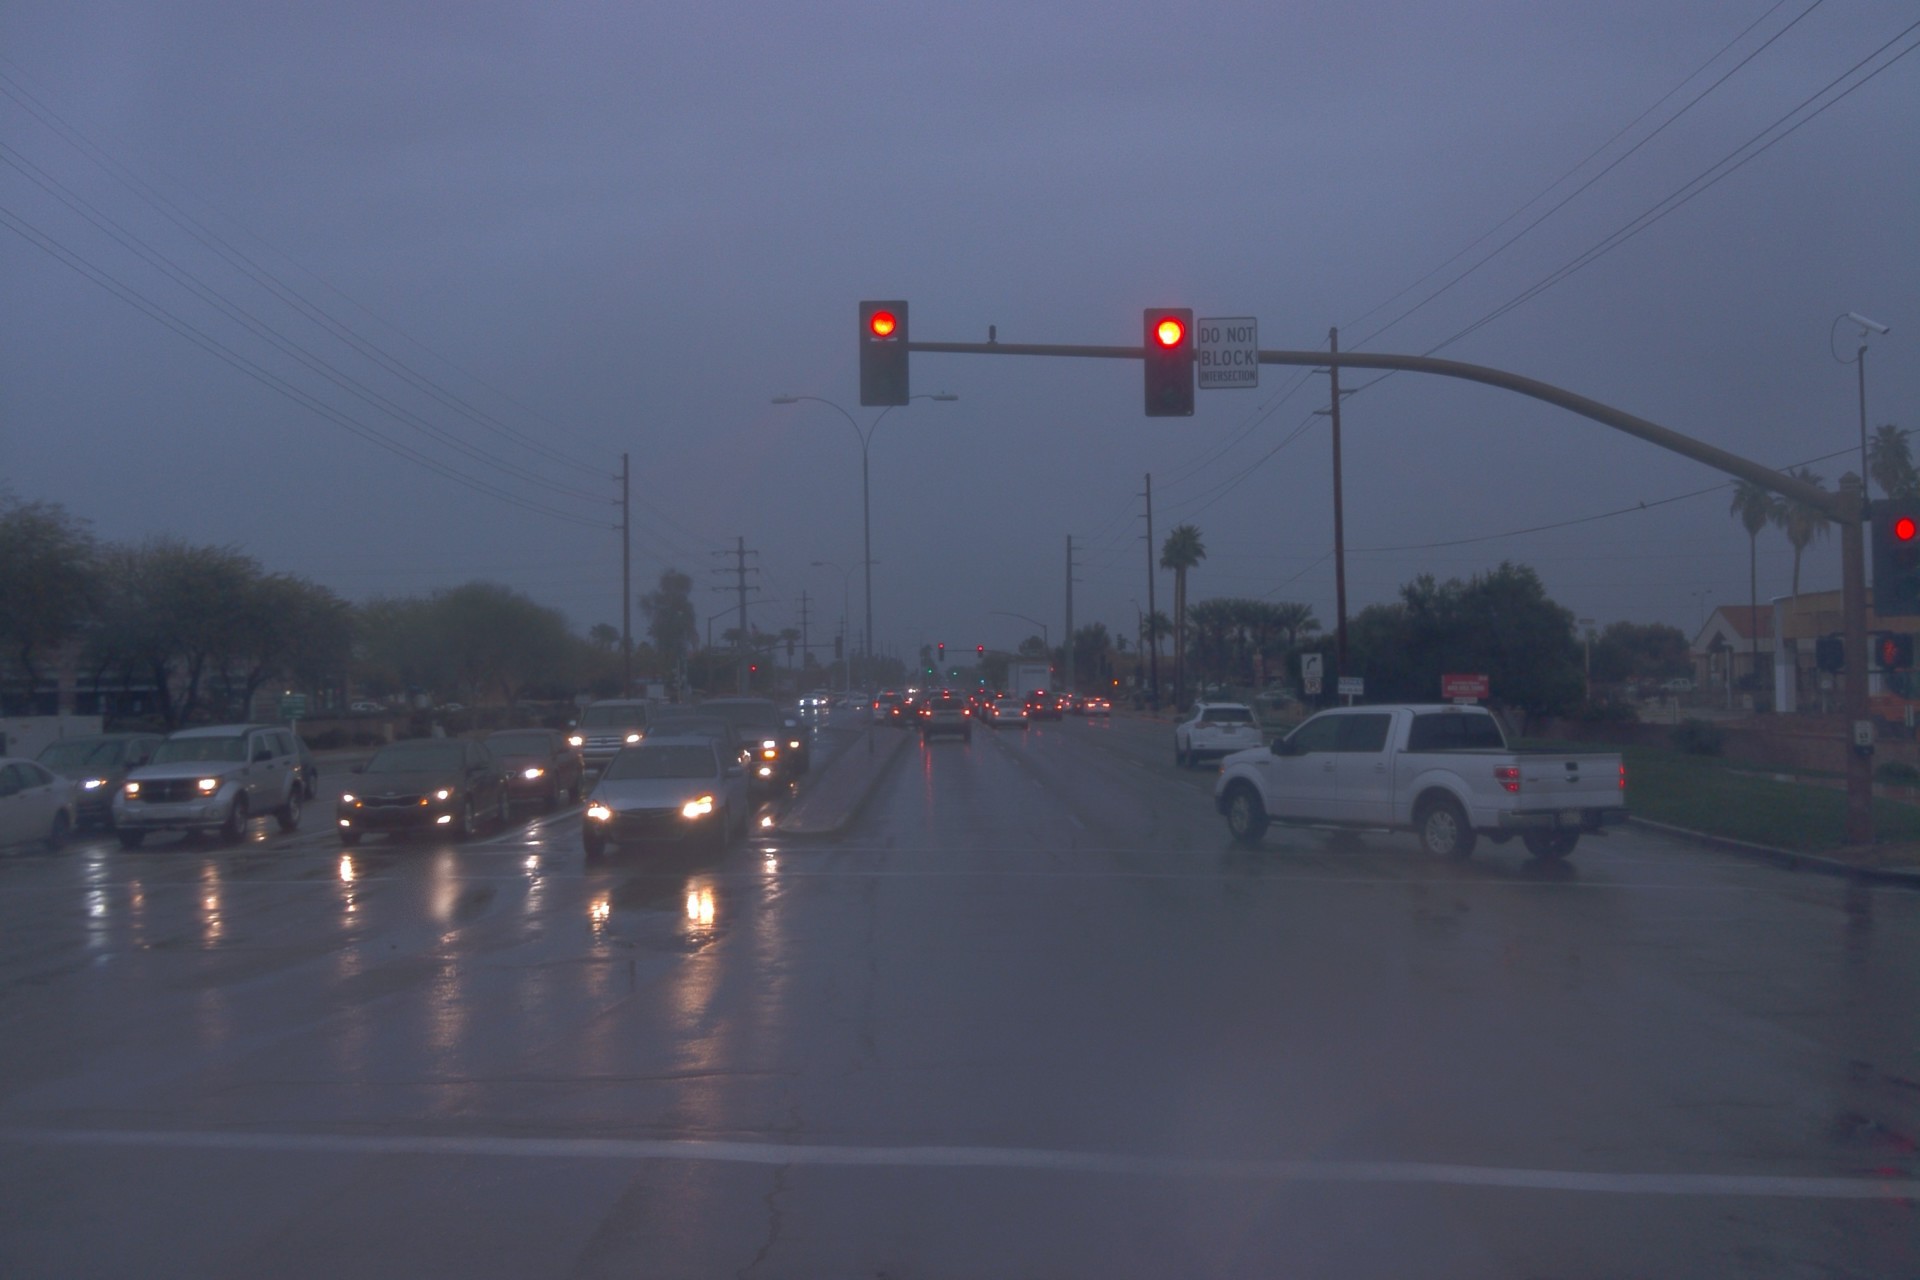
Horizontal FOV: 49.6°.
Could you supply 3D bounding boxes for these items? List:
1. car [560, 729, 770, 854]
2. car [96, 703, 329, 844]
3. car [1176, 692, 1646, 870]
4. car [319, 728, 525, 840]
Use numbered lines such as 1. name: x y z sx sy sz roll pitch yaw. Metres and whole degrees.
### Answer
1. car: -3.794 1.935 27.539 2.102 1.410 4.605 0 -1 1
2. car: -11.707 2.039 32.882 2.052 2.020 4.497 0 -1 0
3. car: 5.571 1.673 26.640 2.510 1.980 5.894 1 -1 -31
4. car: -8.040 2.118 31.497 2.042 1.440 4.763 0 -1 -2
